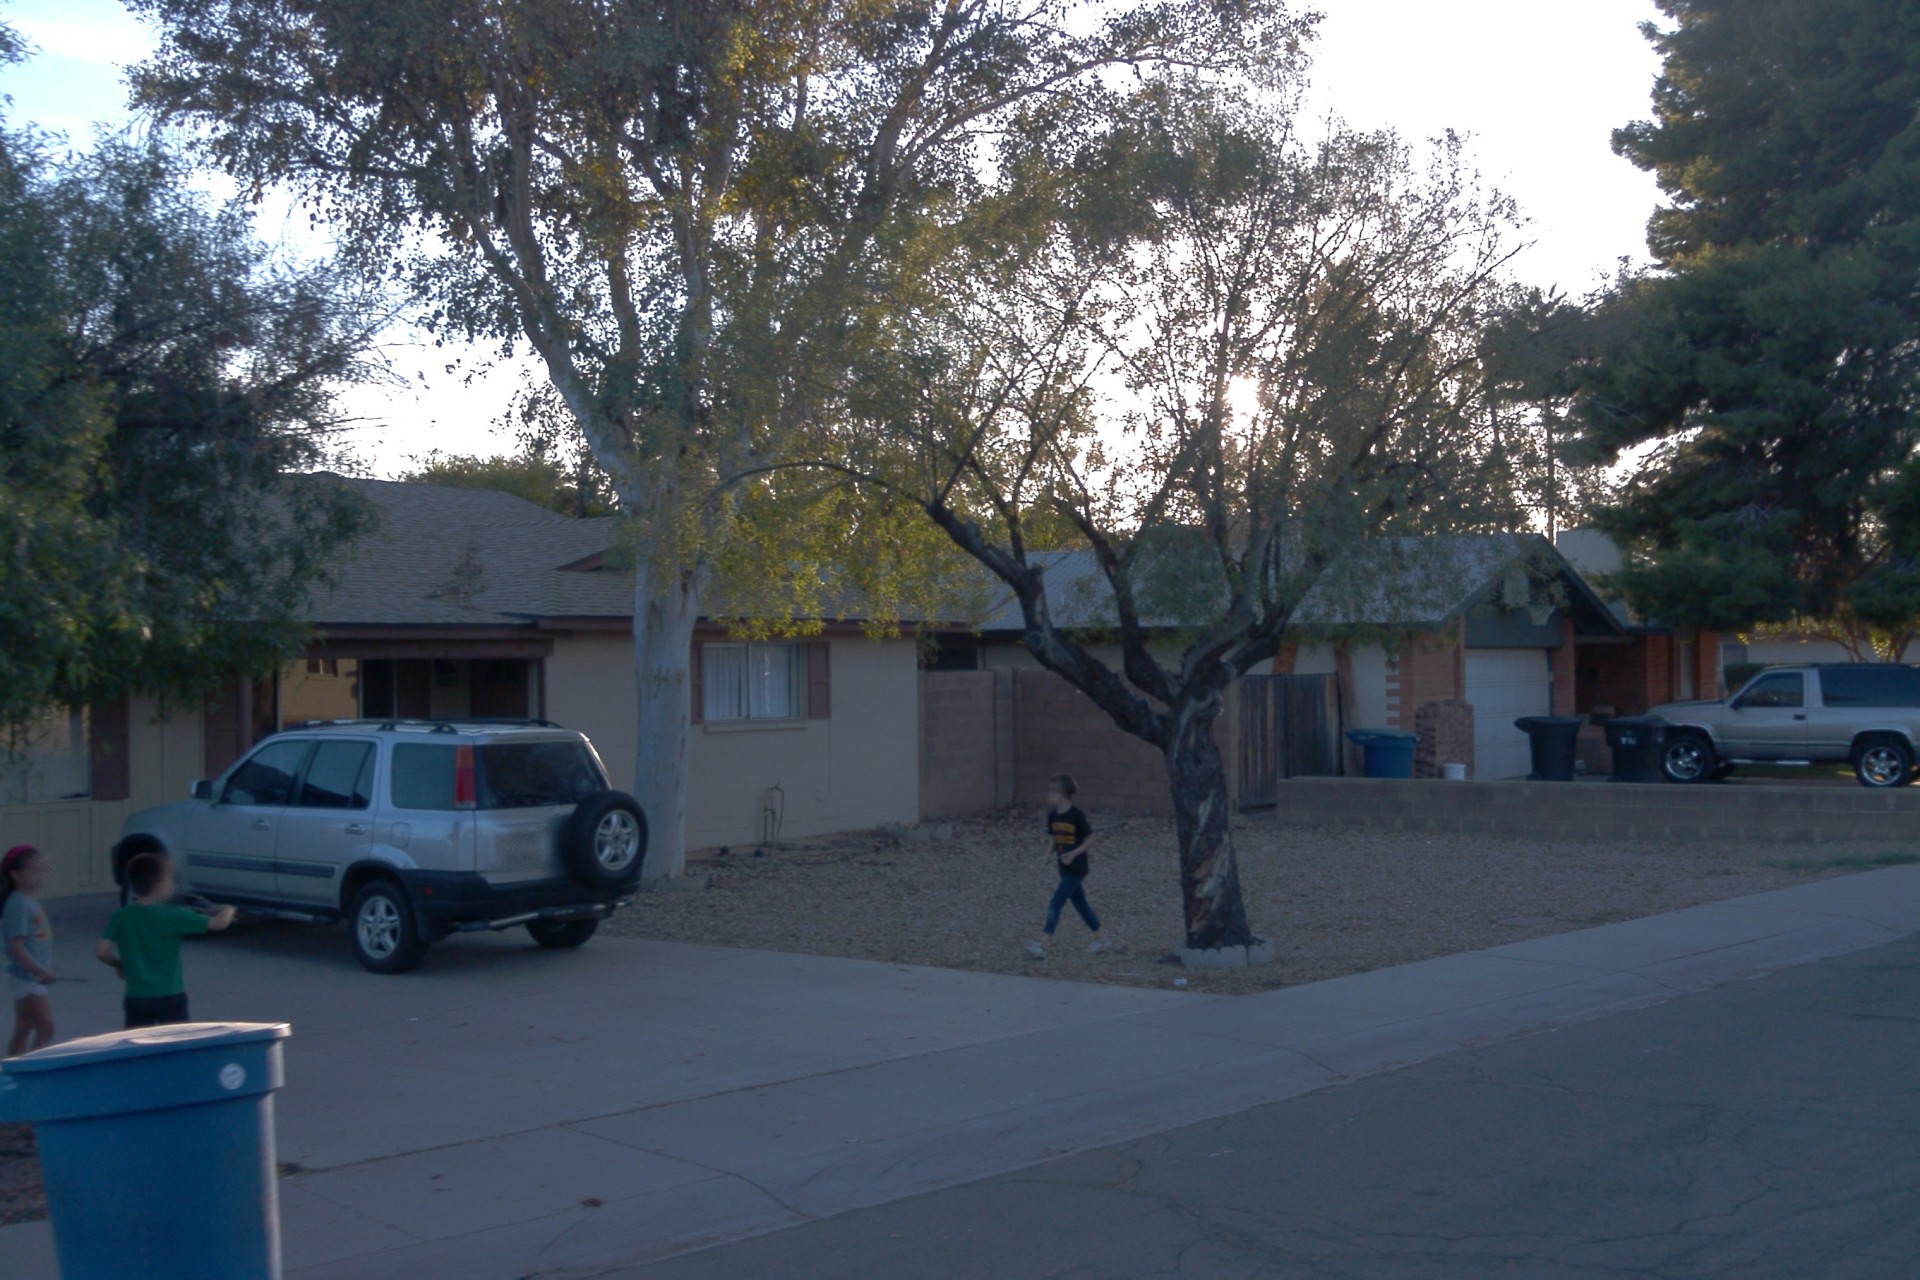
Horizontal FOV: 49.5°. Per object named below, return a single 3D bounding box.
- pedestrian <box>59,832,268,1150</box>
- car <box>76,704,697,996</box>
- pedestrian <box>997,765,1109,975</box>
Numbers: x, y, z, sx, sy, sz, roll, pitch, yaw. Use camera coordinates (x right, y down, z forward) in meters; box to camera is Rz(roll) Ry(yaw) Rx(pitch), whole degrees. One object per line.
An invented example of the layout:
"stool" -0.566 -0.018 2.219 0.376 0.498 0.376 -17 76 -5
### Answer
"pedestrian" -3.599 1.556 9.424 0.577 1.295 0.669 0 0 33
"car" -4.269 1.395 15.283 4.369 1.710 2.081 0 0 35
"pedestrian" 0.656 1.606 14.701 0.589 1.400 0.528 0 0 -36
